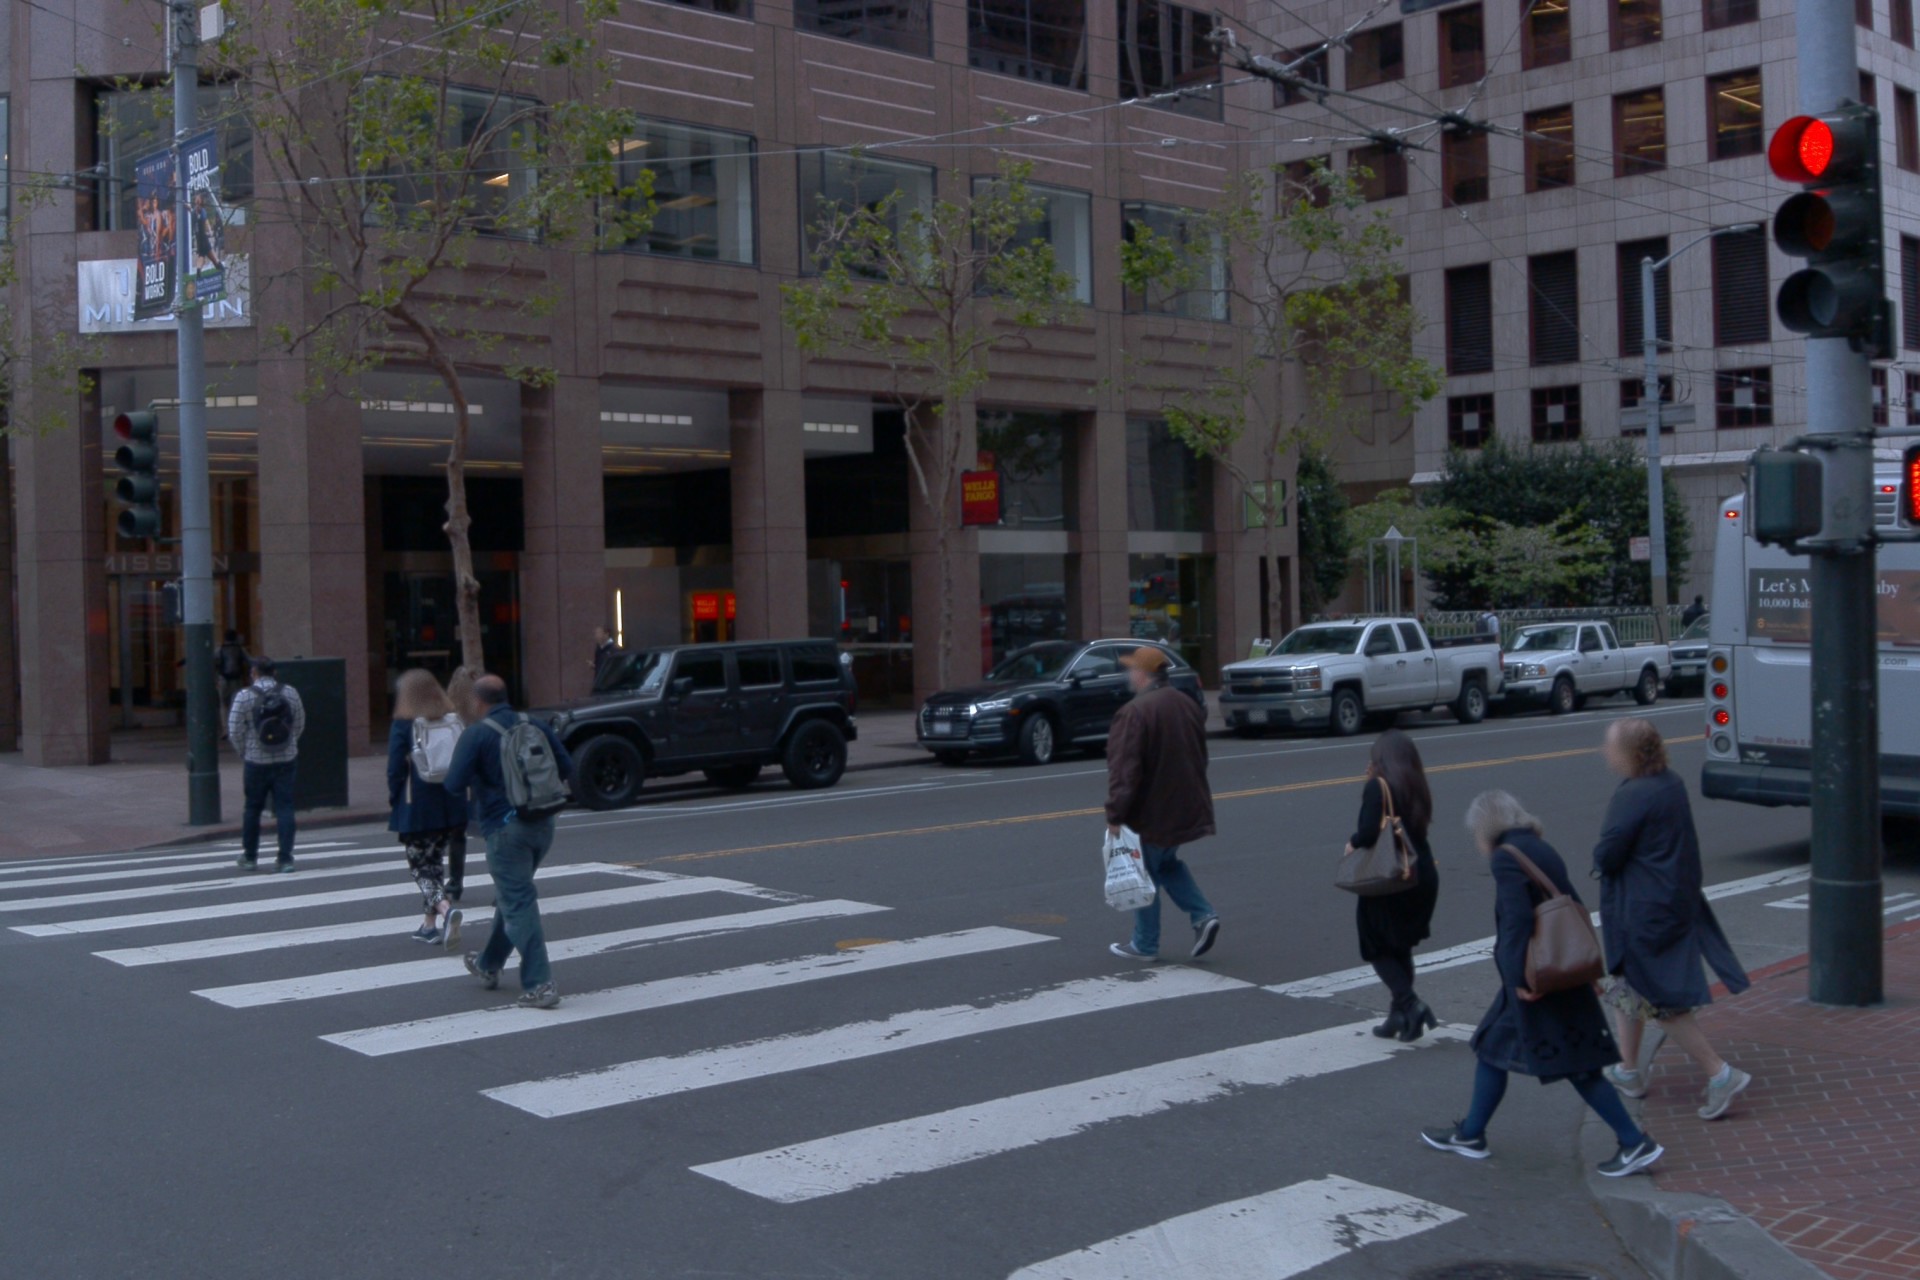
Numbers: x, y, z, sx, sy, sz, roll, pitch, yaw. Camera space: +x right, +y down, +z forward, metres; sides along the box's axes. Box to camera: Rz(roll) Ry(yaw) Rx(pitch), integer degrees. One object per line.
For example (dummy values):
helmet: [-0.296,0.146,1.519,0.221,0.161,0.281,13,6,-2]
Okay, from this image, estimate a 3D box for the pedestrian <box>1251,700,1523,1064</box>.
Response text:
pedestrian: [2.079,1.123,10.026,0.869,1.606,0.971,0,0,-43]

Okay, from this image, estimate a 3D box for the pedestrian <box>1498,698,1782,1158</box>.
pedestrian: [2.790,1.117,8.433,0.920,1.716,0.737,0,0,36]

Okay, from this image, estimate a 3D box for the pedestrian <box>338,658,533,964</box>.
pedestrian: [-3.153,0.979,12.345,0.748,1.726,0.990,0,0,-42]

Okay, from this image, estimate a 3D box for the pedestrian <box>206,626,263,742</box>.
pedestrian: [-11.366,0.675,32.217,0.779,1.775,1.055,0,0,-22]

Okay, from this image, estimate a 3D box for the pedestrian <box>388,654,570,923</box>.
pedestrian: [-3.280,0.971,14.012,0.841,1.726,0.975,0,0,-41]

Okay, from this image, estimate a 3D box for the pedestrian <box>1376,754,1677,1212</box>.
pedestrian: [2.176,1.251,7.885,0.898,1.556,0.776,0,0,35]

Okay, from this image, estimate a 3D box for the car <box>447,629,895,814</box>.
car: [-3.353,0.863,24.559,4.963,1.950,2.149,-1,1,-43]

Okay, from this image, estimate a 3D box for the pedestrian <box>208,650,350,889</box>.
pedestrian: [-5.436,0.994,16.387,0.777,1.816,1.066,0,0,-36]

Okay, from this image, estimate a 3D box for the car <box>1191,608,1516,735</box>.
car: [6.521,0.439,33.564,2.385,1.890,5.778,0,1,45]

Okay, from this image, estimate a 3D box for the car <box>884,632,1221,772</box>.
car: [1.358,0.788,28.753,4.539,1.770,2.126,-1,1,-43]

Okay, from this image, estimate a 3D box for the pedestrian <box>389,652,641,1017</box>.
pedestrian: [-2.328,0.960,10.755,1.010,1.776,0.829,0,0,38]

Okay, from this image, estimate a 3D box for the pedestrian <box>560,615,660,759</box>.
pedestrian: [-4.953,0.645,29.068,1.067,1.985,0.895,0,0,-43]

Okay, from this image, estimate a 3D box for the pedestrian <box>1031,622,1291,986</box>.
pedestrian: [1.158,0.883,11.881,1.152,1.968,0.950,0,0,43]
